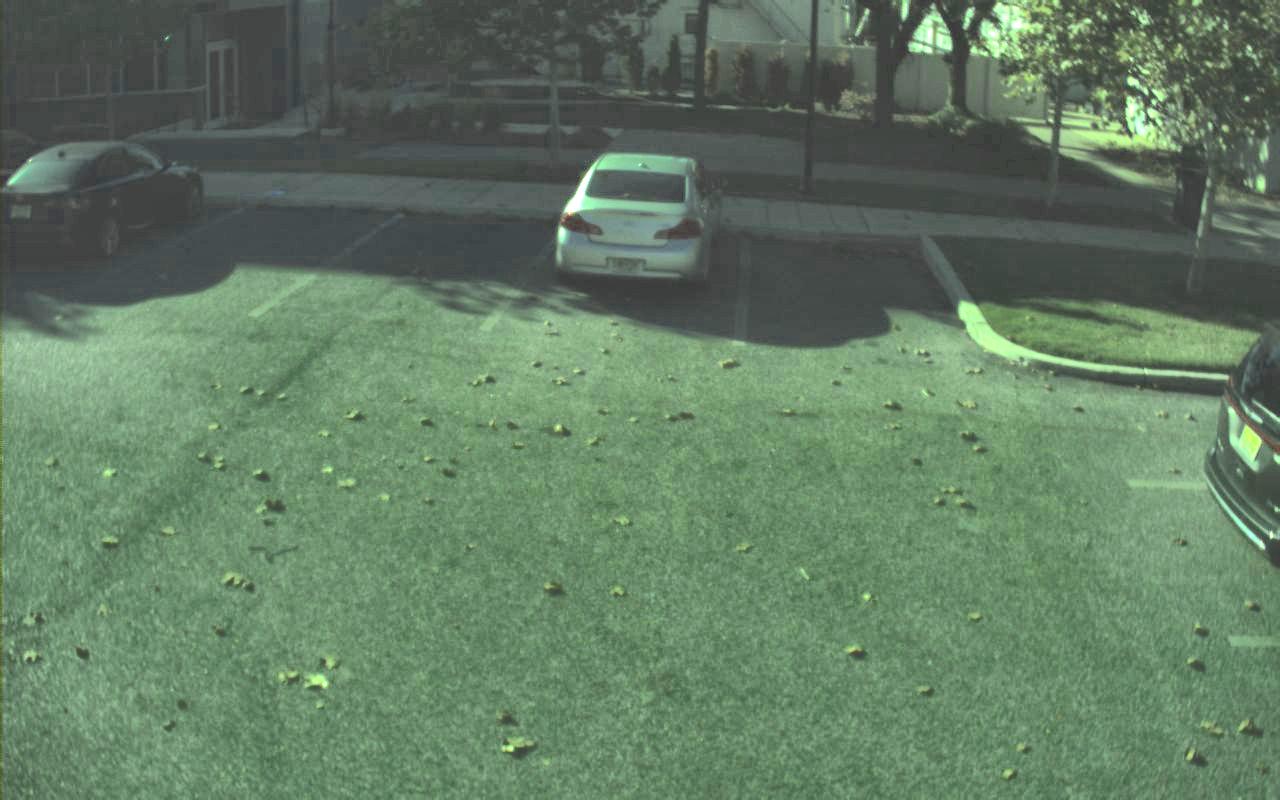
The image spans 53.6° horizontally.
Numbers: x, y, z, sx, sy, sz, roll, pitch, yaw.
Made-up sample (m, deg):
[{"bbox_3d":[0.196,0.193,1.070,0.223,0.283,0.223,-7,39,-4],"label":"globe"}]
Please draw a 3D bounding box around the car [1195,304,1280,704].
[{"bbox_3d":[6.246,0.492,7.248,4.457,1.691,2.008,2,16,9],"label":"car"}]

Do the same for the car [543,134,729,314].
[{"bbox_3d":[0.107,-2.324,15.571,1.911,1.561,4.395,0,17,5],"label":"car"}]

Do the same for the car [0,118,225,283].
[{"bbox_3d":[-7.652,-2.890,16.244,1.970,1.580,4.622,0,17,5],"label":"car"}]
